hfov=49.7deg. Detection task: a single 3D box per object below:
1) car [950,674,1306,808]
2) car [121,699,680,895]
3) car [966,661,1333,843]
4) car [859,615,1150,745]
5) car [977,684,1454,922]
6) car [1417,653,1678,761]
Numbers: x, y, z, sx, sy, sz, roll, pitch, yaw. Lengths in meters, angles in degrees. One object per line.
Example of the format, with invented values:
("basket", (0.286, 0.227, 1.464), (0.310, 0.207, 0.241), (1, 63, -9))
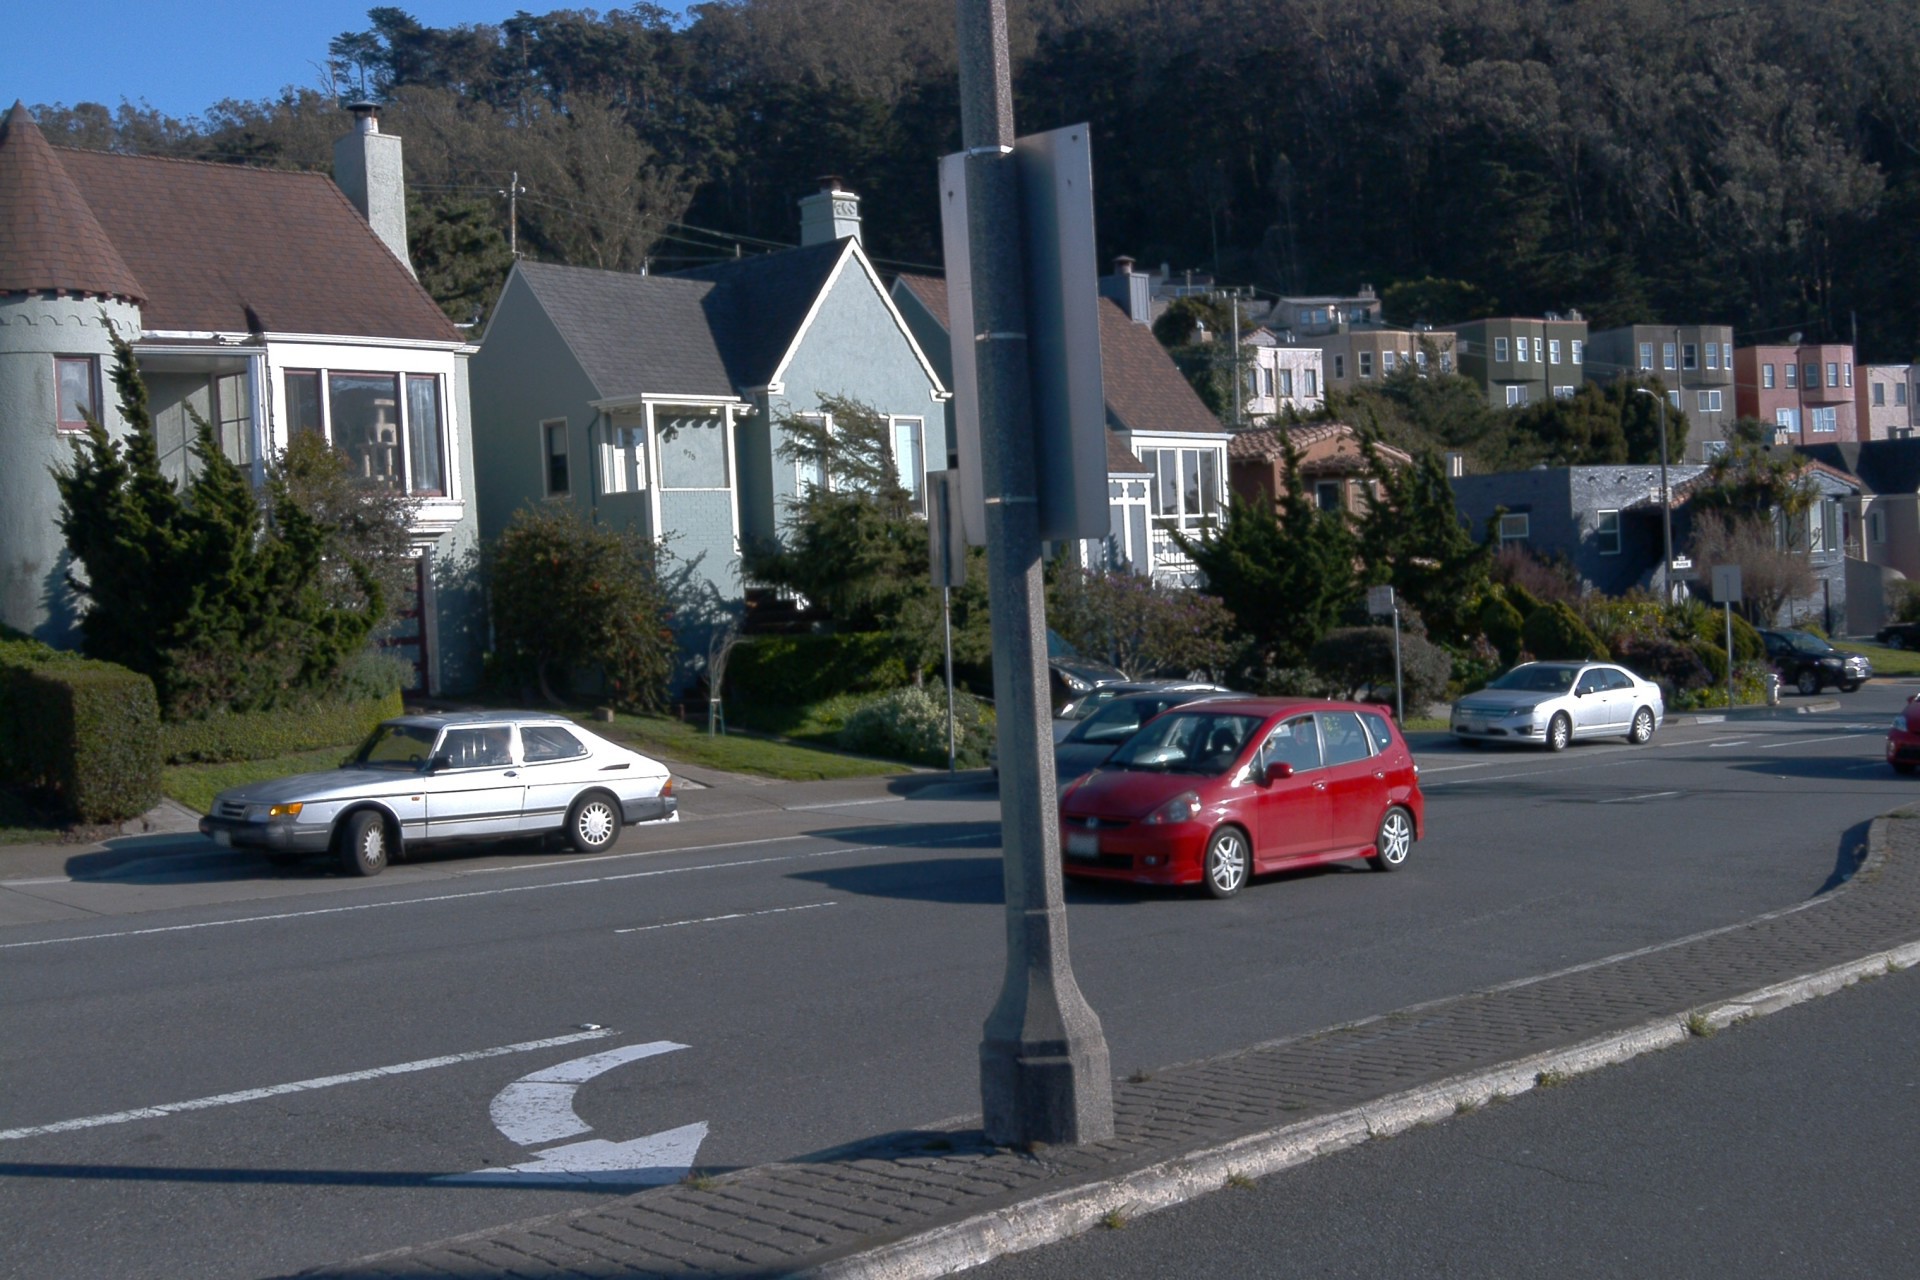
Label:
("car", (2.299, 1.252, 27.334), (4.758, 1.510, 2.056), (-1, 0, -45))
("car", (-5.203, 1.383, 19.749), (4.758, 1.470, 2.020), (-1, 0, -45))
("car", (2.045, 1.082, 21.629), (1.721, 1.660, 3.913), (0, 0, 44))
("car", (0.700, 0.627, 35.132), (4.652, 2.060, 2.071), (0, 0, 41))
("car", (2.232, 1.247, 17.390), (1.930, 1.640, 4.009), (0, 0, 44))
("car", (10.055, 1.080, 35.265), (4.885, 1.640, 2.093), (-1, 0, -44))
